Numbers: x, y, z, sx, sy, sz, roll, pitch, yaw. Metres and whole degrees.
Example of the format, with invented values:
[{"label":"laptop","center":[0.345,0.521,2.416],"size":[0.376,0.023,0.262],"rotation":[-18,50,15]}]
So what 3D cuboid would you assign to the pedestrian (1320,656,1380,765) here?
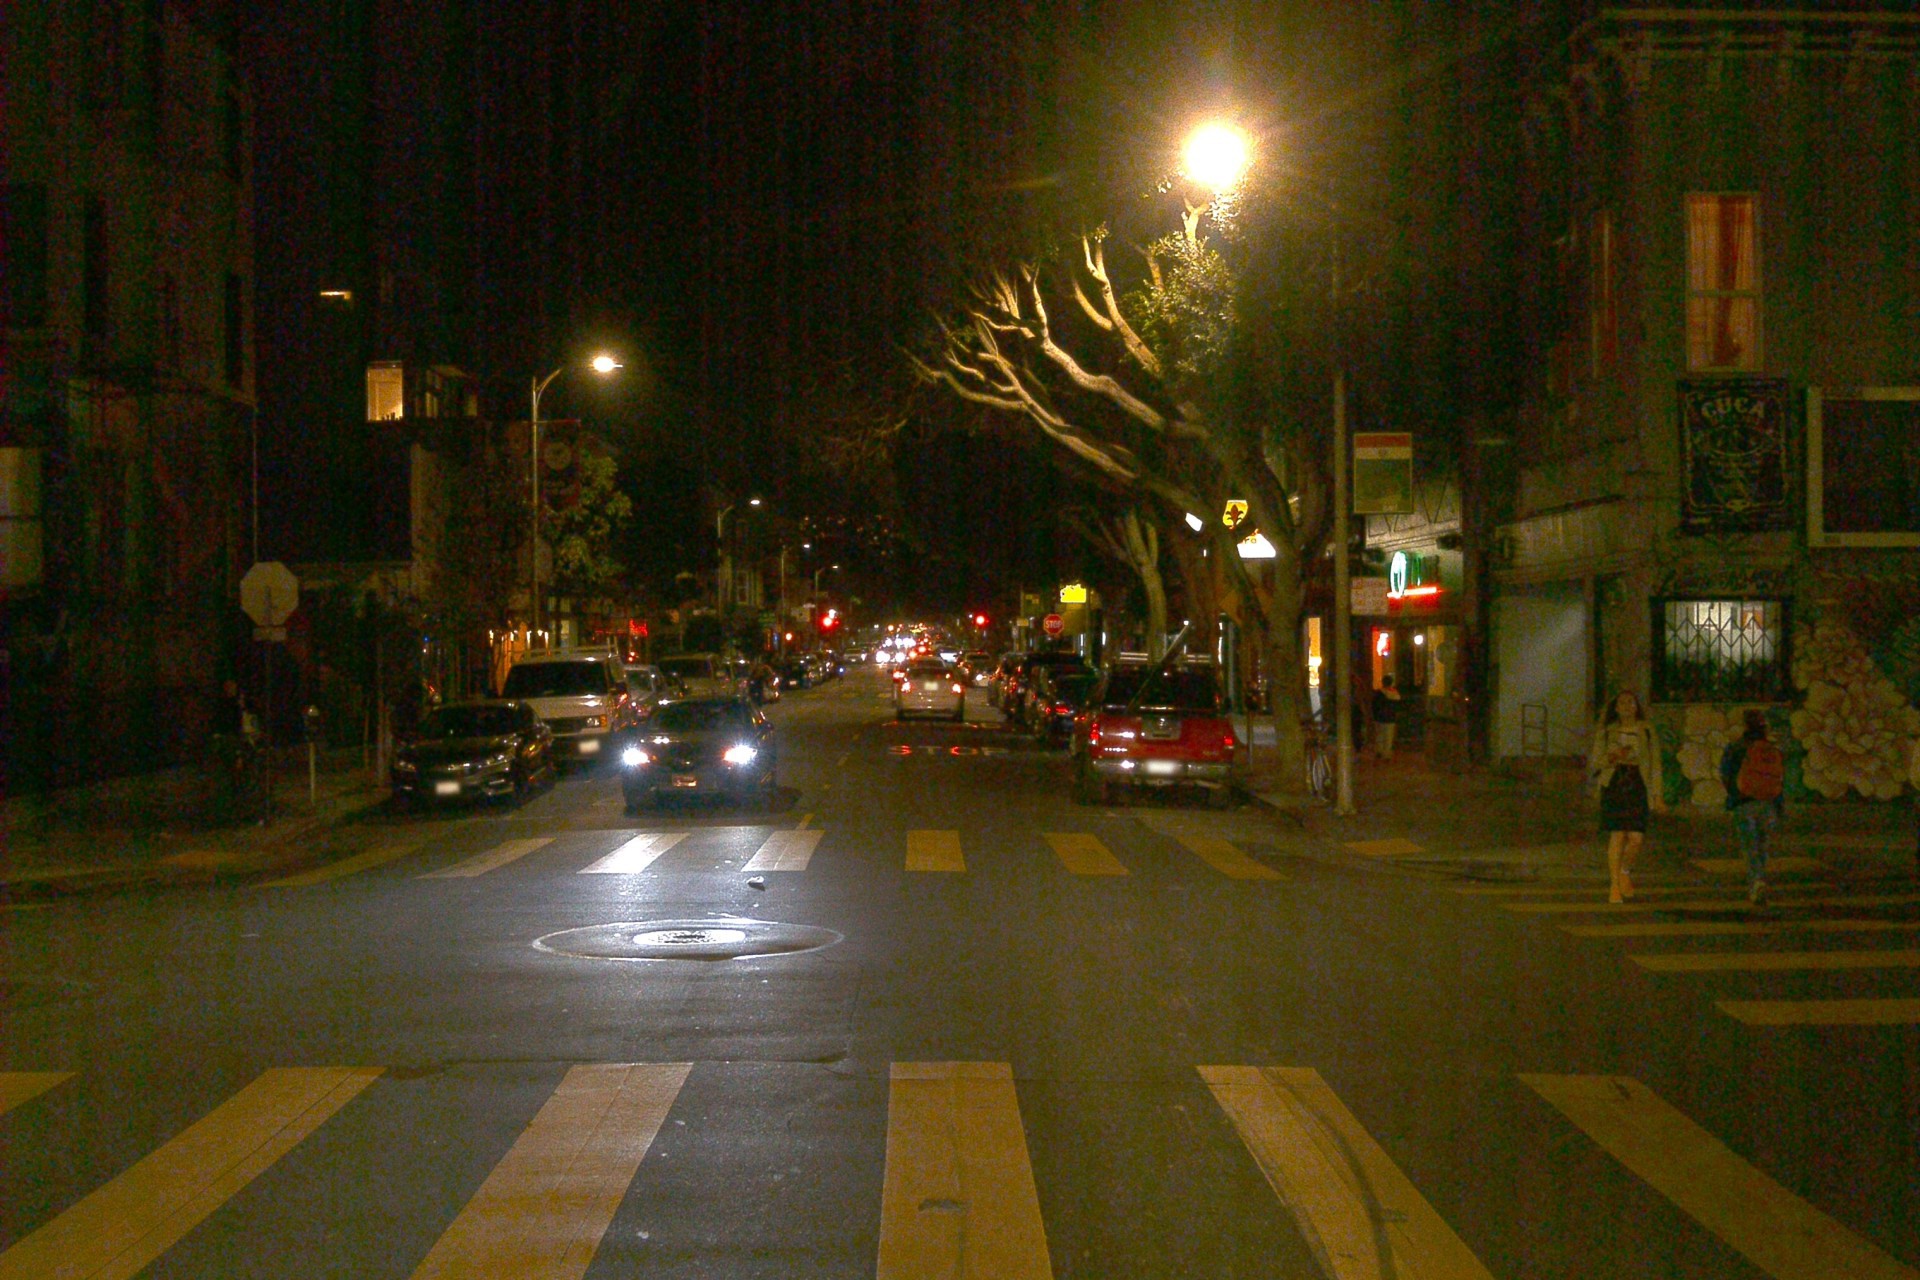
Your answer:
[{"label":"pedestrian","center":[6.299,1.132,33.491],"size":[0.721,1.730,1.000],"rotation":[0,0,-2]}]

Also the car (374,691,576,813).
[{"label":"car","center":[-7.135,1.606,30.972],"size":[2.111,1.570,4.965],"rotation":[0,0,-3]}]

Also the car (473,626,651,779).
[{"label":"car","center":[-7.104,1.063,37.571],"size":[2.537,2.560,5.516],"rotation":[0,0,-4]}]

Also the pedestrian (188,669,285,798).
[{"label":"pedestrian","center":[-10.214,1.302,29.241],"size":[1.009,1.780,1.075],"rotation":[0,0,-1]}]

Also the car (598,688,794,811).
[{"label":"car","center":[-3.678,1.502,29.711],"size":[2.245,1.520,4.895],"rotation":[0,0,0]}]

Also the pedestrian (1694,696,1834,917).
[{"label":"pedestrian","center":[6.338,1.288,16.361],"size":[0.752,1.660,1.055],"rotation":[0,0,5]}]

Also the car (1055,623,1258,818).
[{"label":"car","center":[2.769,1.069,30.243],"size":[2.609,2.510,6.384],"rotation":[0,0,4]}]

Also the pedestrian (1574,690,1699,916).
[{"label":"pedestrian","center":[5.422,1.275,16.648],"size":[0.760,1.721,1.126],"rotation":[0,0,9]}]

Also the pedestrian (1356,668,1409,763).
[{"label":"pedestrian","center":[6.854,1.221,33.581],"size":[0.682,1.520,0.703],"rotation":[0,0,0]}]
